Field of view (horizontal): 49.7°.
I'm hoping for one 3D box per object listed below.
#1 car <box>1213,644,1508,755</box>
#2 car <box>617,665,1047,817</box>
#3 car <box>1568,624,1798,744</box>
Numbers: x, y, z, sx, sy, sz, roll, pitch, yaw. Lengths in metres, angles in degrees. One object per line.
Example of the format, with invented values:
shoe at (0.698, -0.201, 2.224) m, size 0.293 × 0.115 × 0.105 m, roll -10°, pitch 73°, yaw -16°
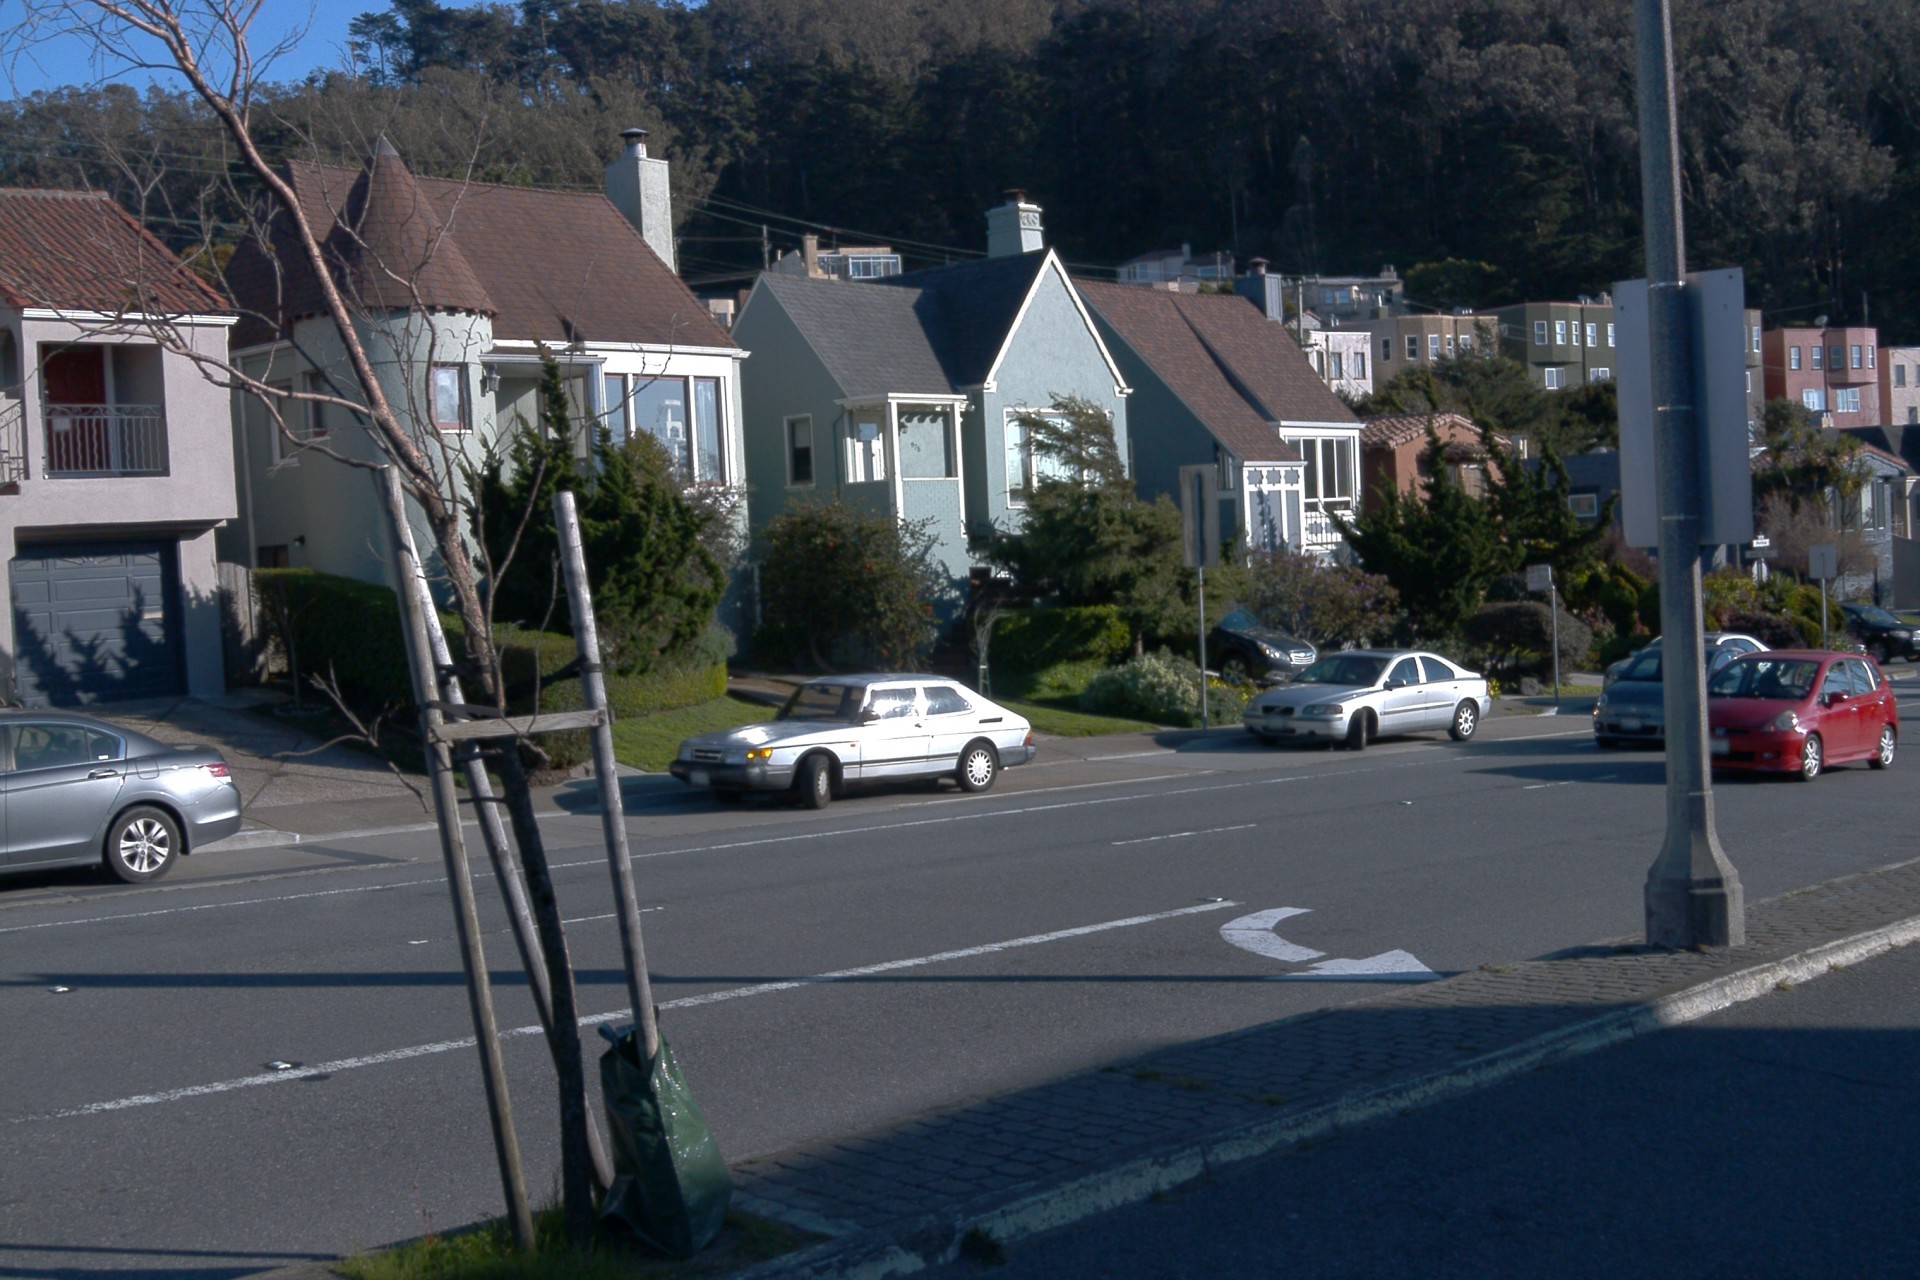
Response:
car at (6.119, 0.836, 31.321) m, size 4.758 × 1.510 × 2.056 m, roll -1°, pitch 0°, yaw -45°
car at (-1.361, 1.071, 23.703) m, size 2.020 × 1.470 × 4.758 m, roll 0°, pitch 0°, yaw 45°
car at (10.746, 0.595, 30.680) m, size 1.721 × 1.660 × 3.913 m, roll 0°, pitch 0°, yaw 44°
